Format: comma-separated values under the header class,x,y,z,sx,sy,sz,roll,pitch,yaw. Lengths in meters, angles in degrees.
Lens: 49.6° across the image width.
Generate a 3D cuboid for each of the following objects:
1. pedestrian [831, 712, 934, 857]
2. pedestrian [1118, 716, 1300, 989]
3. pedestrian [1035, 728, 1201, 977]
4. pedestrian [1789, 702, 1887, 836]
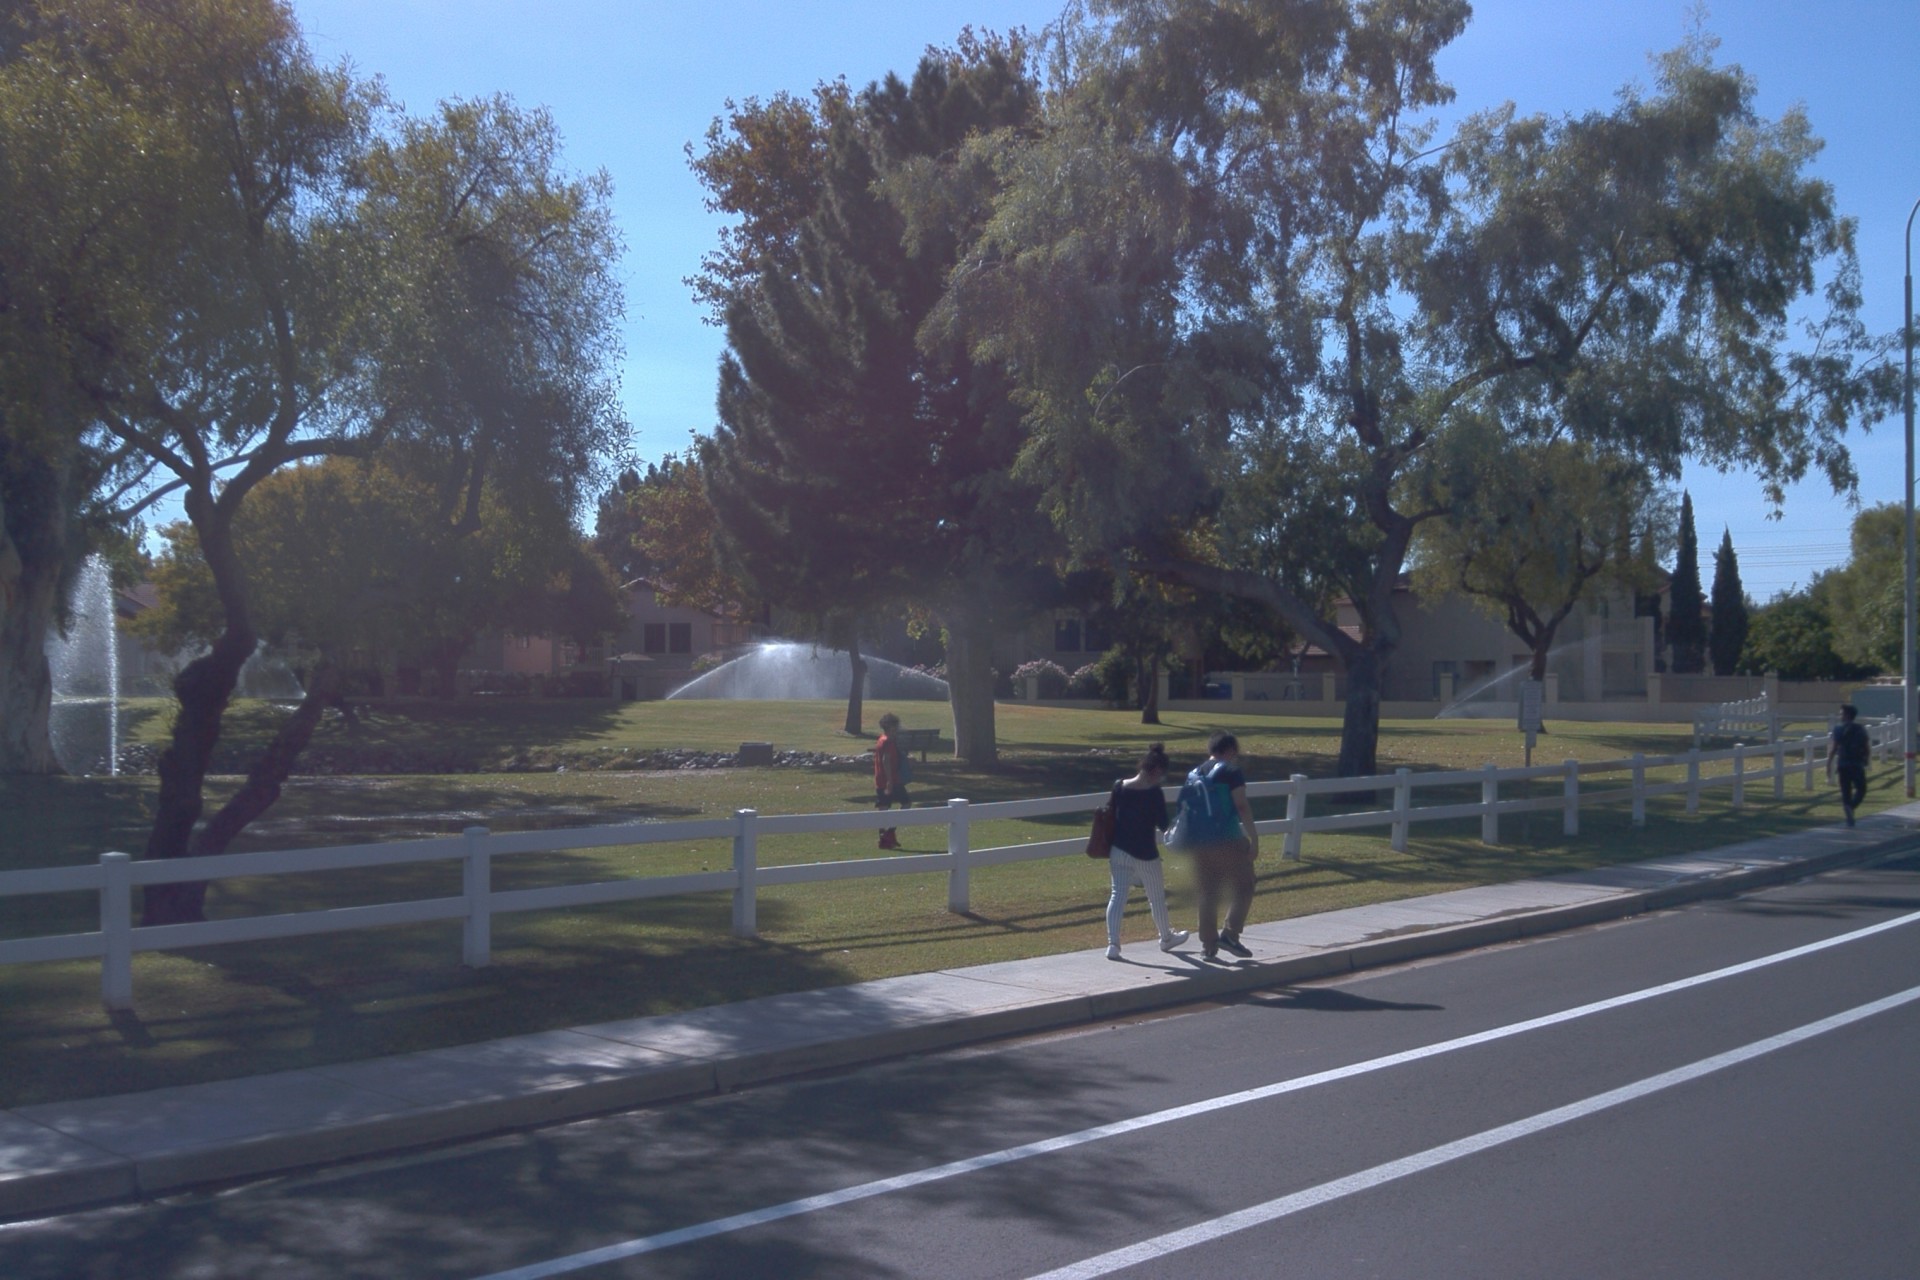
class,x,y,z,sx,sy,sz,roll,pitch,yaw
pedestrian,-0.976,1.775,25.889,0.901,1.734,0.995,1,-1,-29
pedestrian,1.808,1.492,15.039,0.851,1.850,1.041,0,-1,40
pedestrian,1.165,1.522,15.231,0.725,1.710,1.012,0,-1,41
pedestrian,12.034,1.740,28.458,0.985,1.760,1.030,0,-1,38
